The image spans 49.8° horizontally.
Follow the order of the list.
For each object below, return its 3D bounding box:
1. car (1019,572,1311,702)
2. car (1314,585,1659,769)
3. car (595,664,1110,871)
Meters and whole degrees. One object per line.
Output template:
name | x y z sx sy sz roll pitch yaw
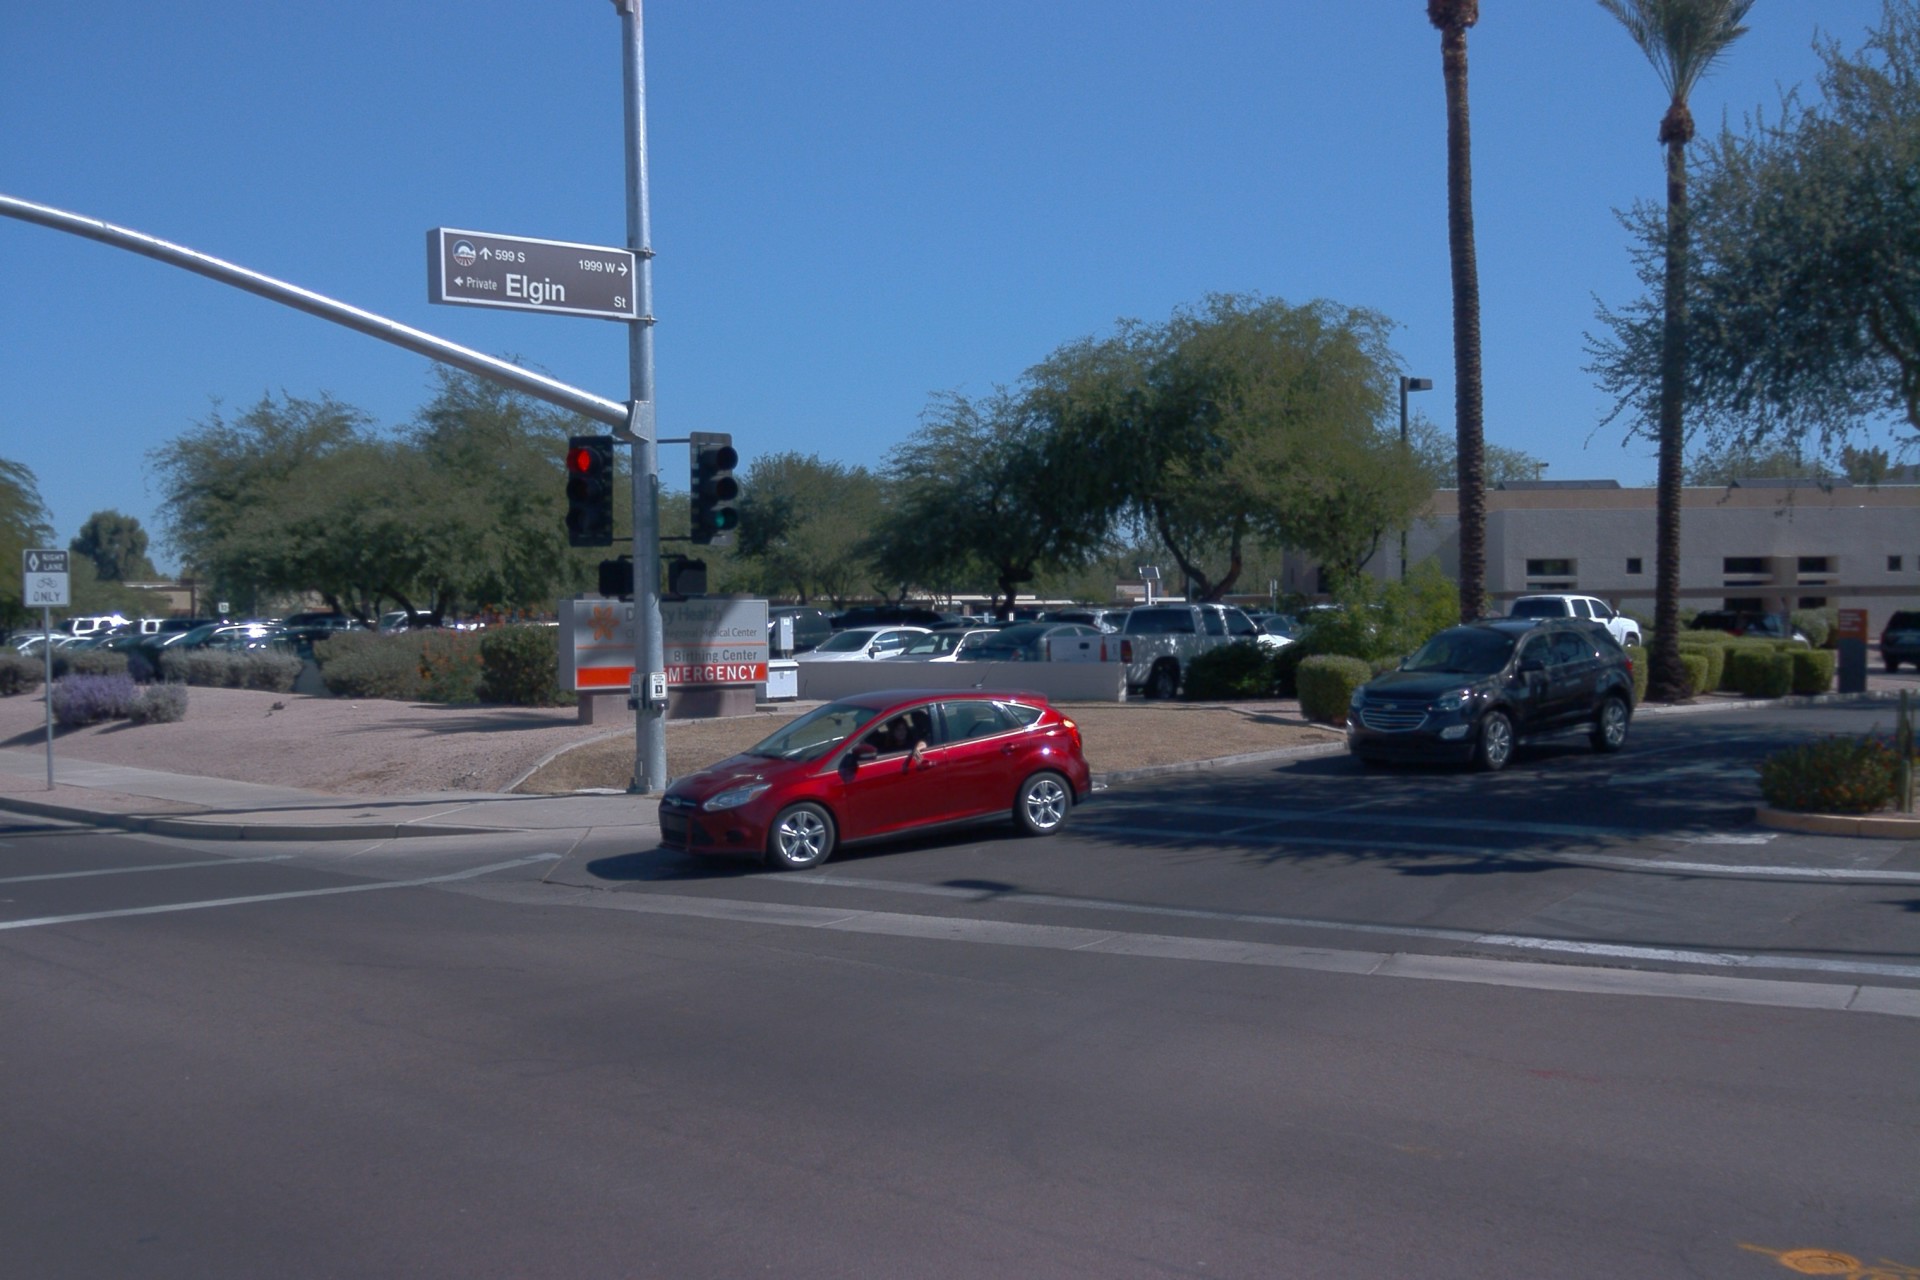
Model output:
car | 3.800 -0.014 37.570 5.463 2.200 2.330 1 0 -45
car | 6.572 0.445 25.510 4.680 2.060 1.980 1 0 -45
car | -0.990 1.119 19.718 4.360 1.750 2.222 1 0 -33
